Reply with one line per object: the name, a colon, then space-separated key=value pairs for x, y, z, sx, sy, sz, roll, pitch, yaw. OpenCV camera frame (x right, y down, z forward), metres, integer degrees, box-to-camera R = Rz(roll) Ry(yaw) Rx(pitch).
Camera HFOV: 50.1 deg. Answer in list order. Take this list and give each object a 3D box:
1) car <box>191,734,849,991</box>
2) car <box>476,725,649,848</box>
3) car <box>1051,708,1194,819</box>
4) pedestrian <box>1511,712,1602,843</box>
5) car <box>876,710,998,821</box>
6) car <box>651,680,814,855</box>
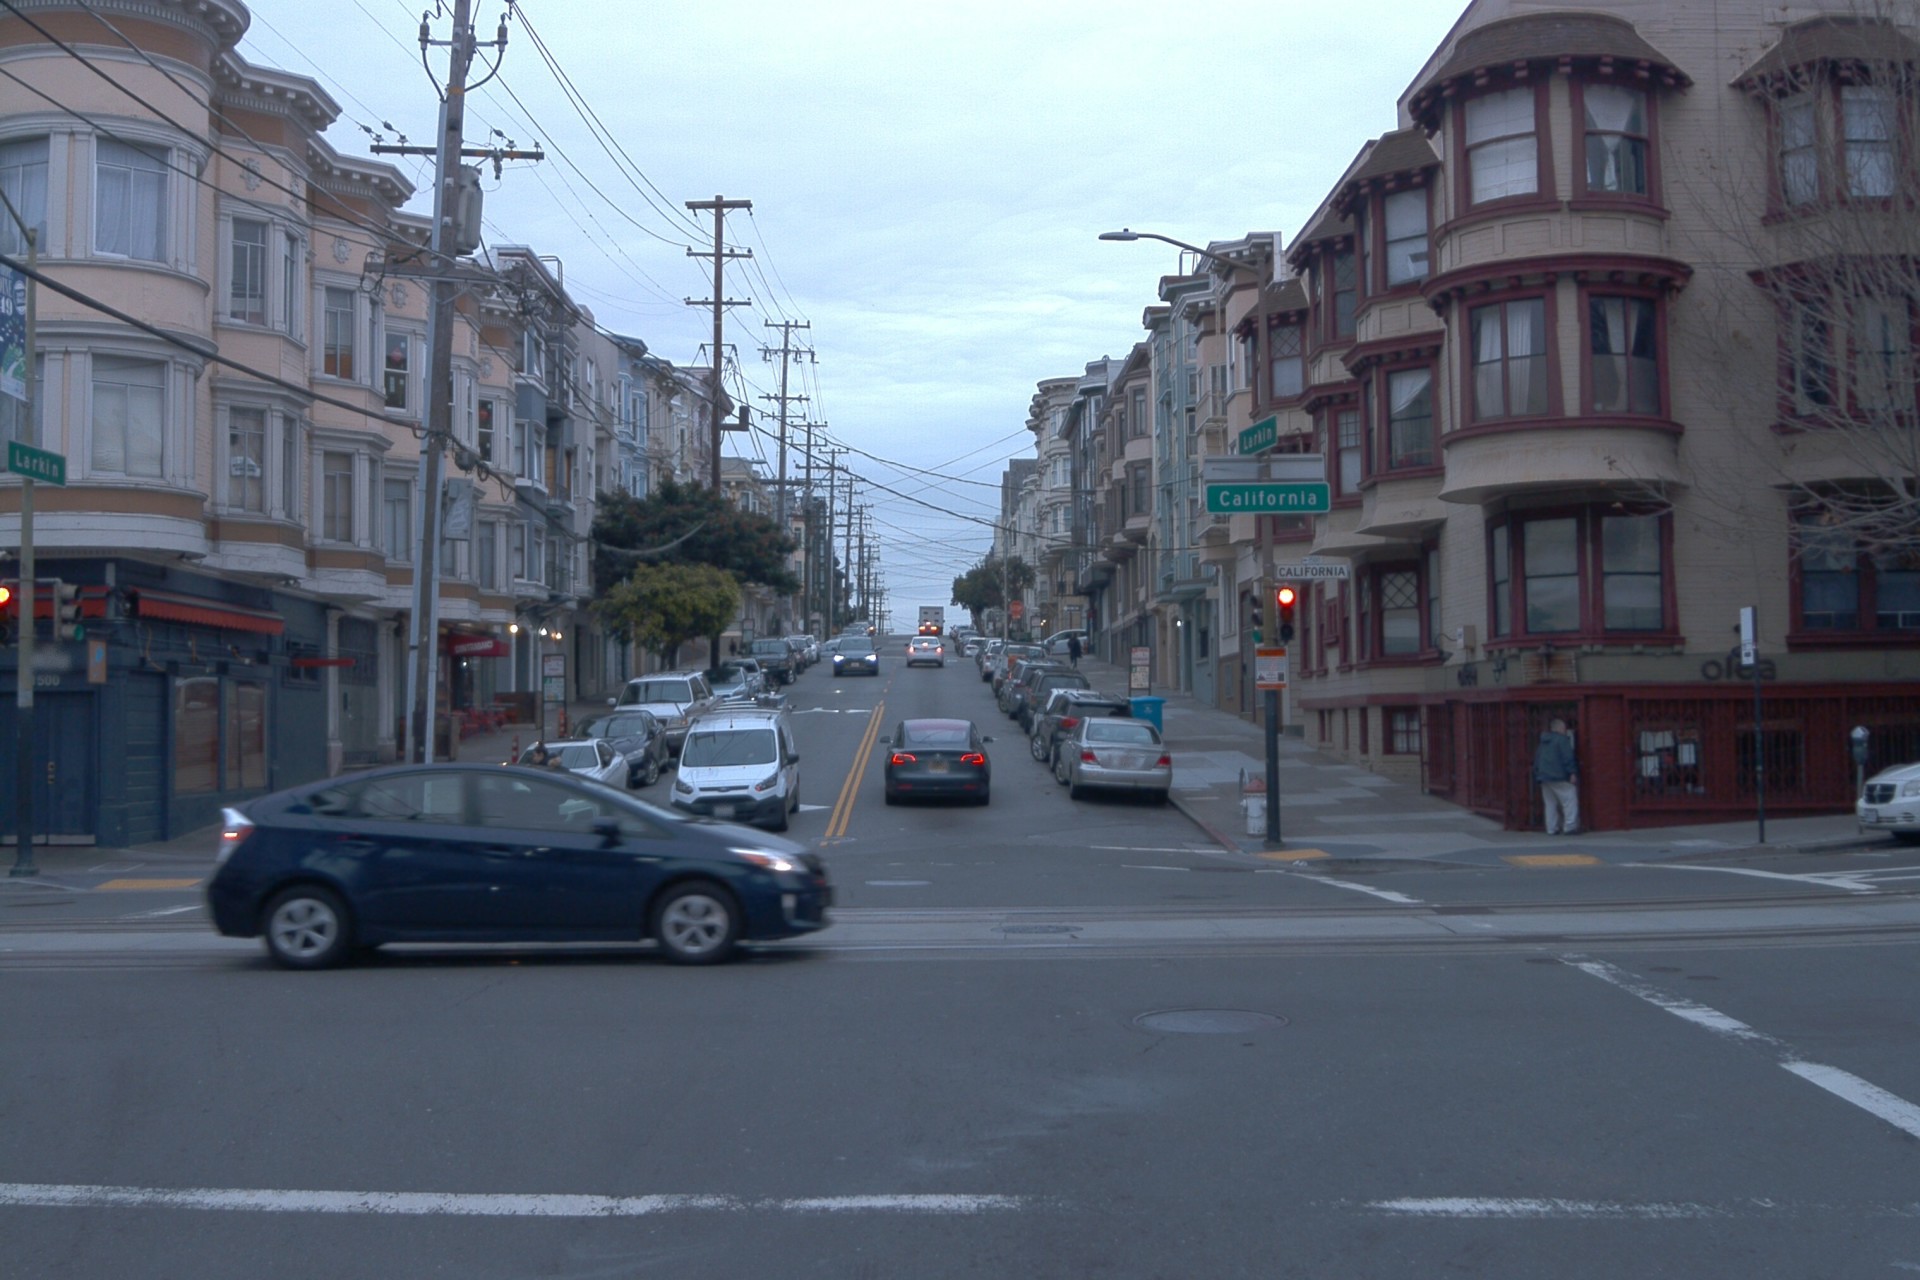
car: x=-3.155 y=1.620 z=15.549 sx=4.548 sy=1.660 sz=2.065 roll=0 pitch=1 yaw=-1
car: x=-6.810 y=2.473 z=35.708 sx=2.150 sy=1.707 sz=4.680 roll=0 pitch=1 yaw=-1
car: x=2.940 y=2.232 z=38.182 sx=2.108 sy=1.700 sz=4.470 roll=0 pitch=1 yaw=-2
pedestrian: x=8.765 y=1.999 z=30.227 sx=0.903 sy=1.830 sz=0.919 roll=-1 pitch=1 yaw=-38
car: x=-0.434 y=2.203 z=37.216 sx=2.064 sy=1.630 sz=4.720 roll=0 pitch=1 yaw=-1
car: x=-3.618 y=1.980 z=33.587 sx=2.196 sy=2.490 sz=4.690 roll=0 pitch=1 yaw=-1
